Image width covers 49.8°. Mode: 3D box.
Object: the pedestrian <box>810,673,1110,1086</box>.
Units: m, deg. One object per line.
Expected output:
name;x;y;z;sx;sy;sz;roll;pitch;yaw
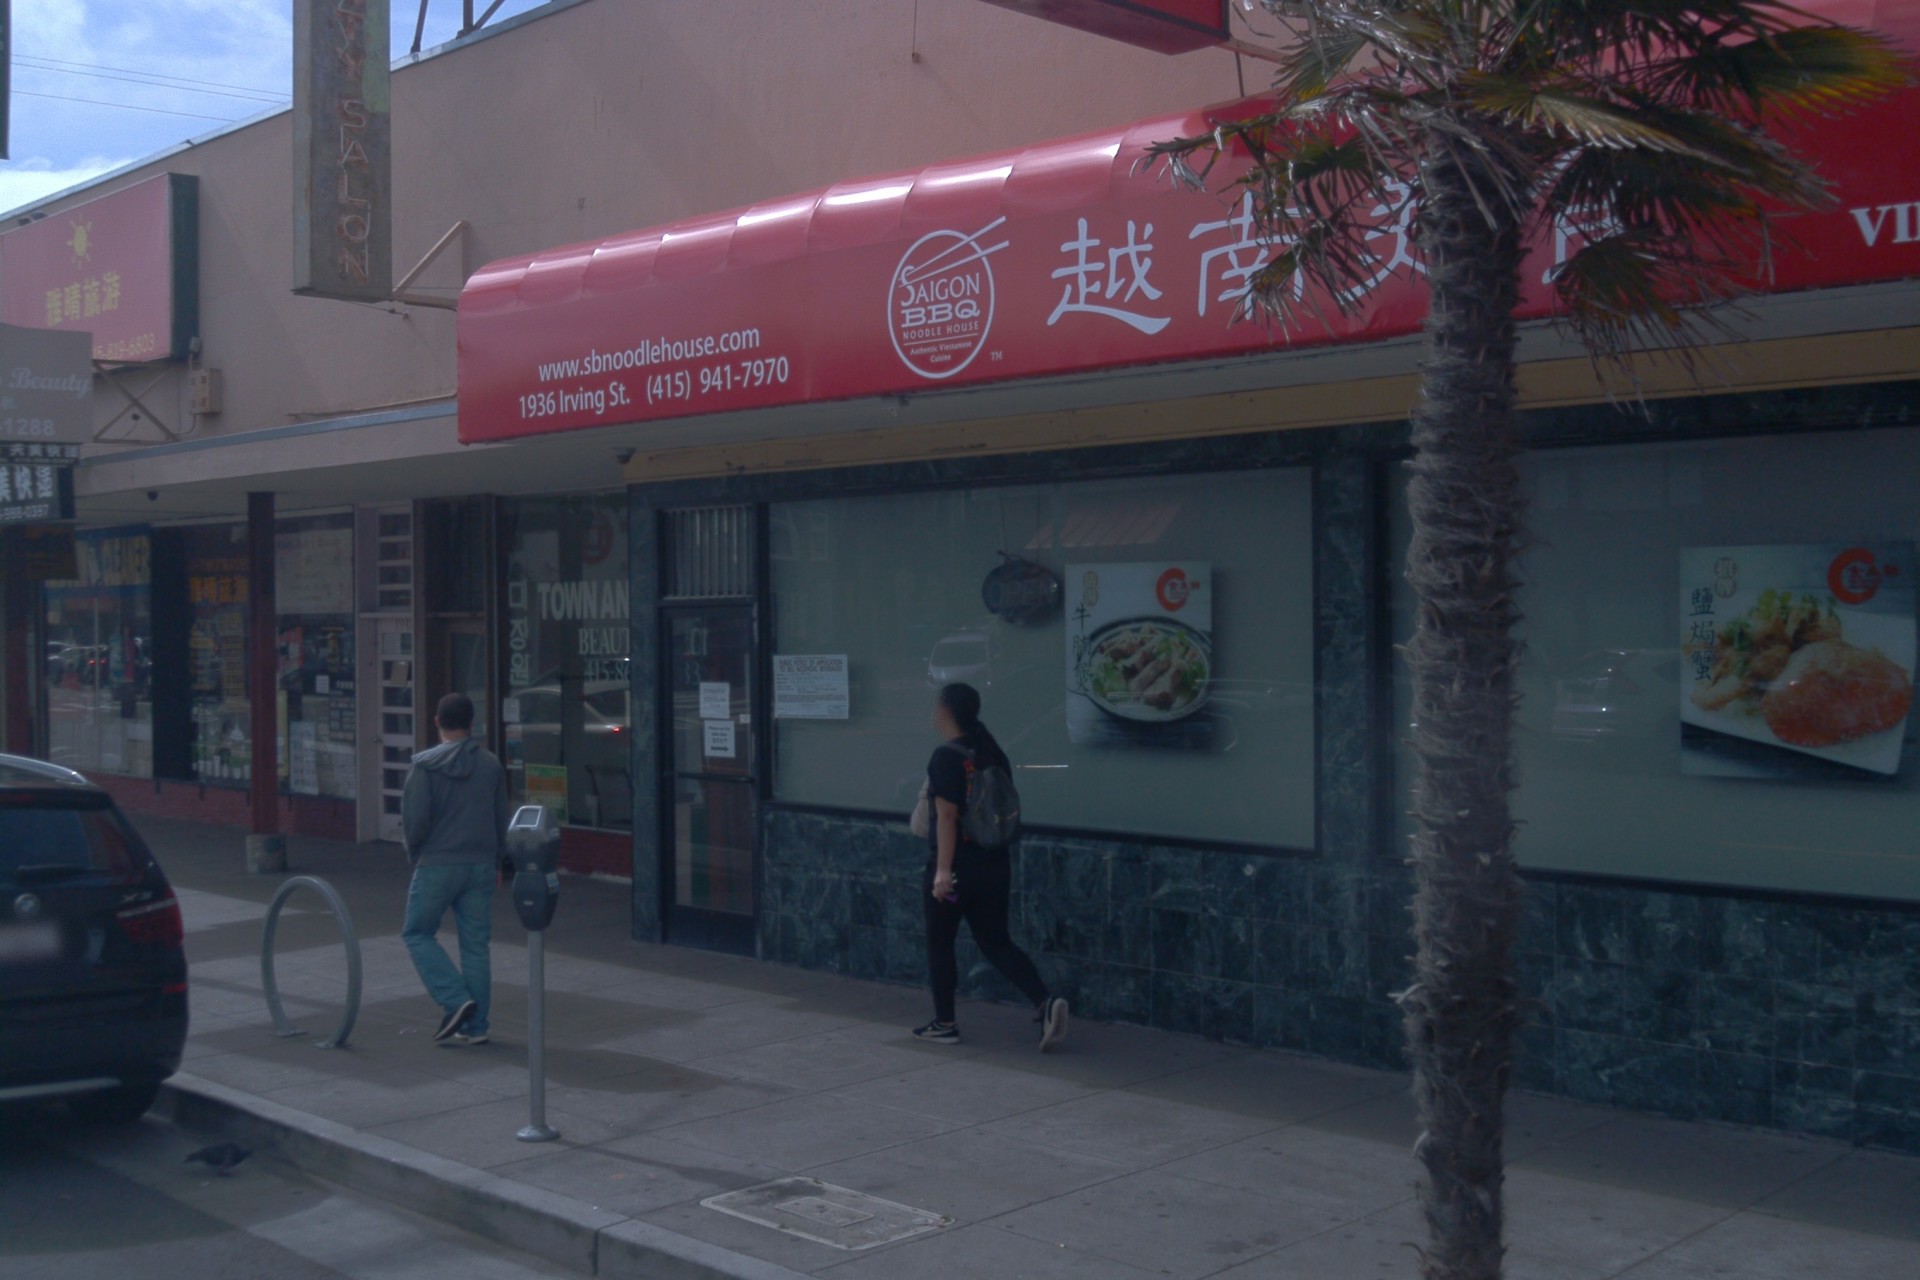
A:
pedestrian;-0.006;1.077;9.928;0.883;1.826;1.142;1;-1;-44

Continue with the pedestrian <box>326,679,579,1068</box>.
pedestrian;-2.499;1.090;10.174;0.995;1.778;0.768;0;-1;43
